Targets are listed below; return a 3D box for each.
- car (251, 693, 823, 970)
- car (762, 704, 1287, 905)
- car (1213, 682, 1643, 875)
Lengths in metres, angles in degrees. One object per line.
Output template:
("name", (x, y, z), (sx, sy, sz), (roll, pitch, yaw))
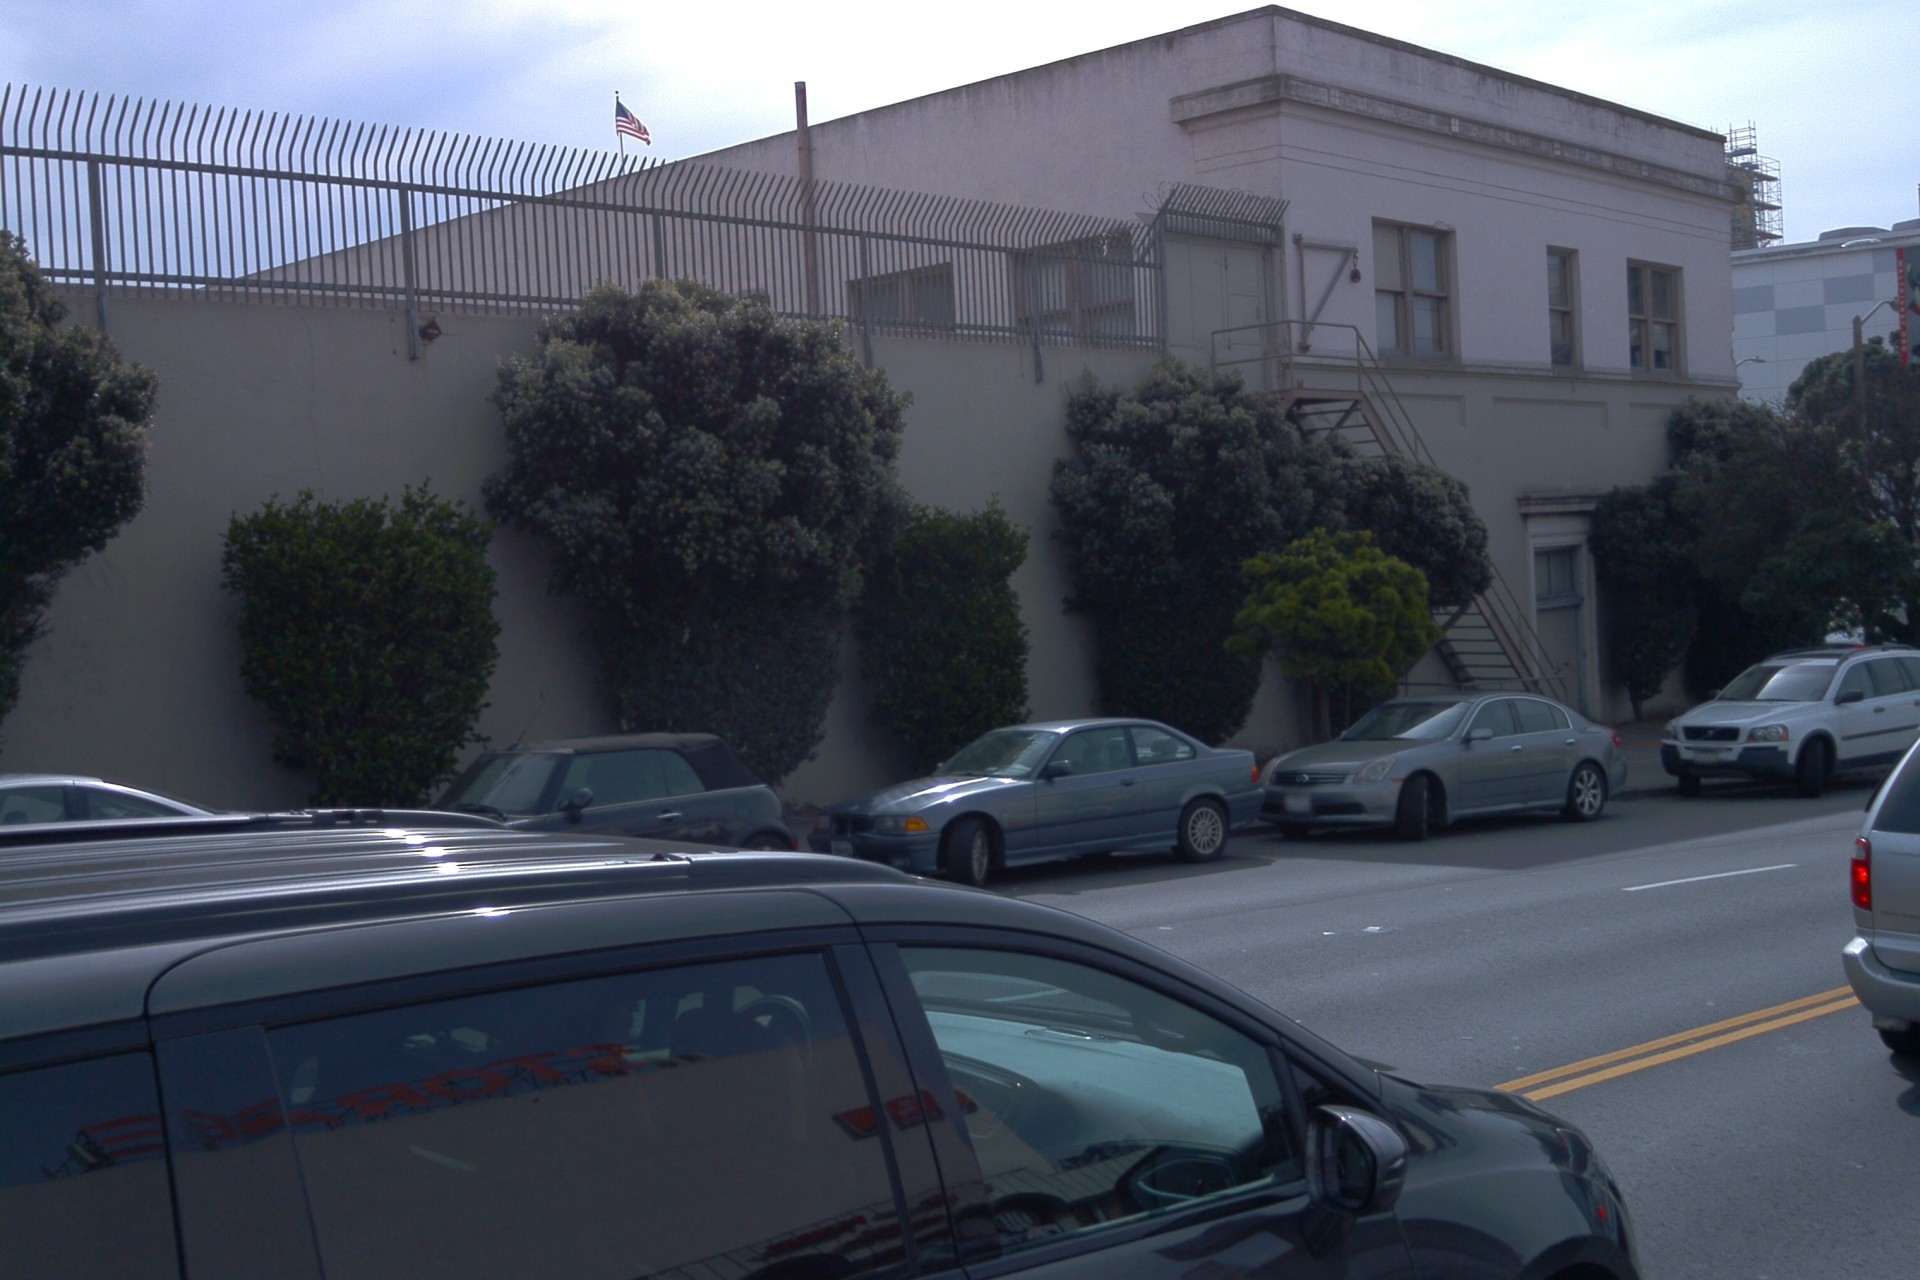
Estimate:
("car", (-2.989, 1.267, 15.024), (1.796, 1.600, 3.729), (1, 1, 44))
("car", (0.655, 1.368, 18.439), (4.448, 1.390, 2.035), (-1, 1, -39))
("car", (5.011, 1.354, 21.683), (4.687, 1.660, 2.019), (-1, 1, -41))
